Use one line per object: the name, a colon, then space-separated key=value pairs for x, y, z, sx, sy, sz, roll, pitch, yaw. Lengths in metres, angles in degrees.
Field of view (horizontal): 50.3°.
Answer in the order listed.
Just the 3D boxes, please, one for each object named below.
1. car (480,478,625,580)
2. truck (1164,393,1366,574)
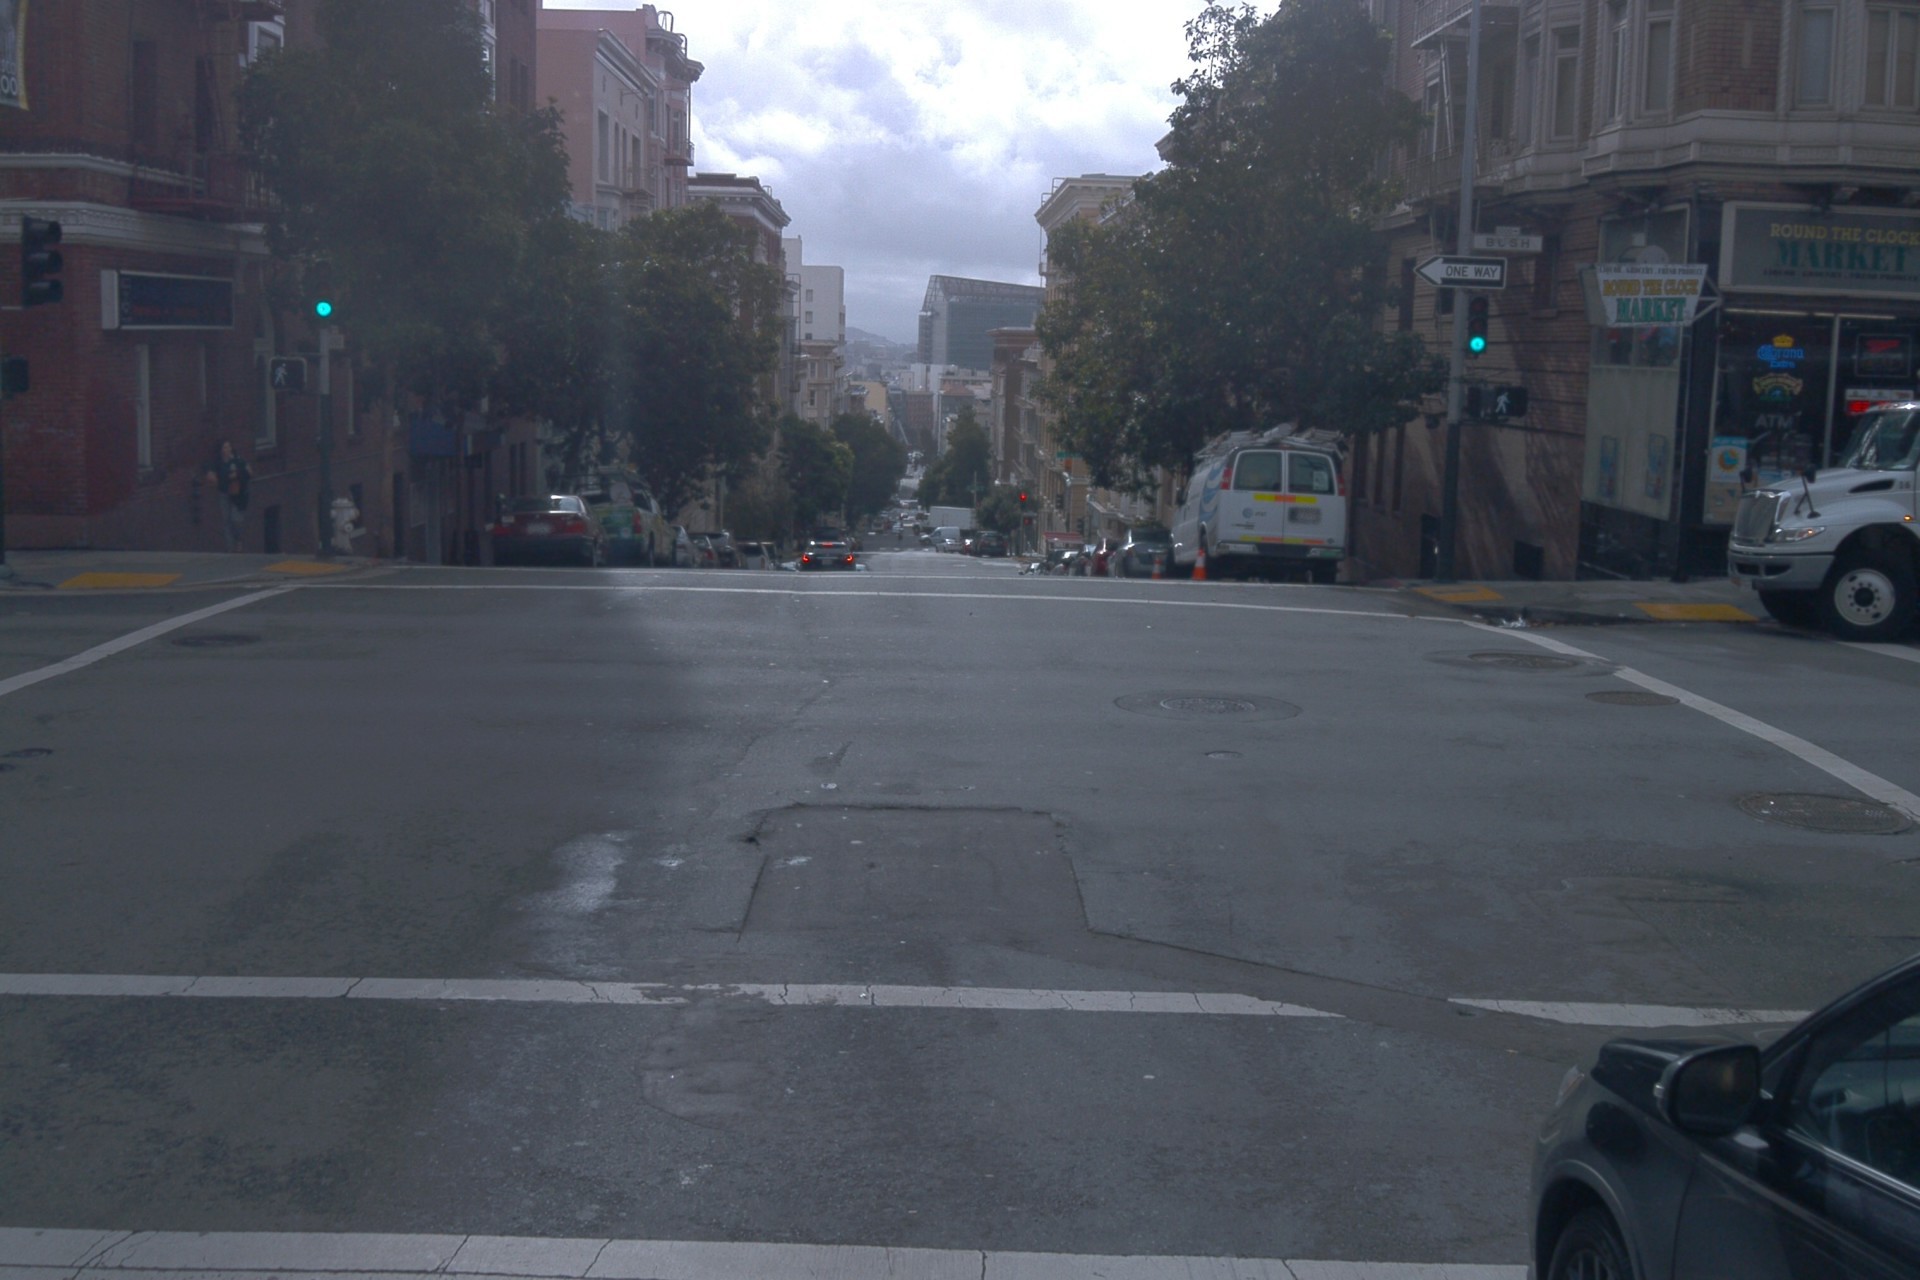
car: x=-6.888 y=-1.846 z=34.930 sx=1.759 sy=1.530 sz=4.100 roll=1 pitch=1 yaw=-2
truck: x=4.613 y=-2.325 z=31.789 sx=2.117 sy=2.450 sz=5.100 roll=1 pitch=1 yaw=-3
